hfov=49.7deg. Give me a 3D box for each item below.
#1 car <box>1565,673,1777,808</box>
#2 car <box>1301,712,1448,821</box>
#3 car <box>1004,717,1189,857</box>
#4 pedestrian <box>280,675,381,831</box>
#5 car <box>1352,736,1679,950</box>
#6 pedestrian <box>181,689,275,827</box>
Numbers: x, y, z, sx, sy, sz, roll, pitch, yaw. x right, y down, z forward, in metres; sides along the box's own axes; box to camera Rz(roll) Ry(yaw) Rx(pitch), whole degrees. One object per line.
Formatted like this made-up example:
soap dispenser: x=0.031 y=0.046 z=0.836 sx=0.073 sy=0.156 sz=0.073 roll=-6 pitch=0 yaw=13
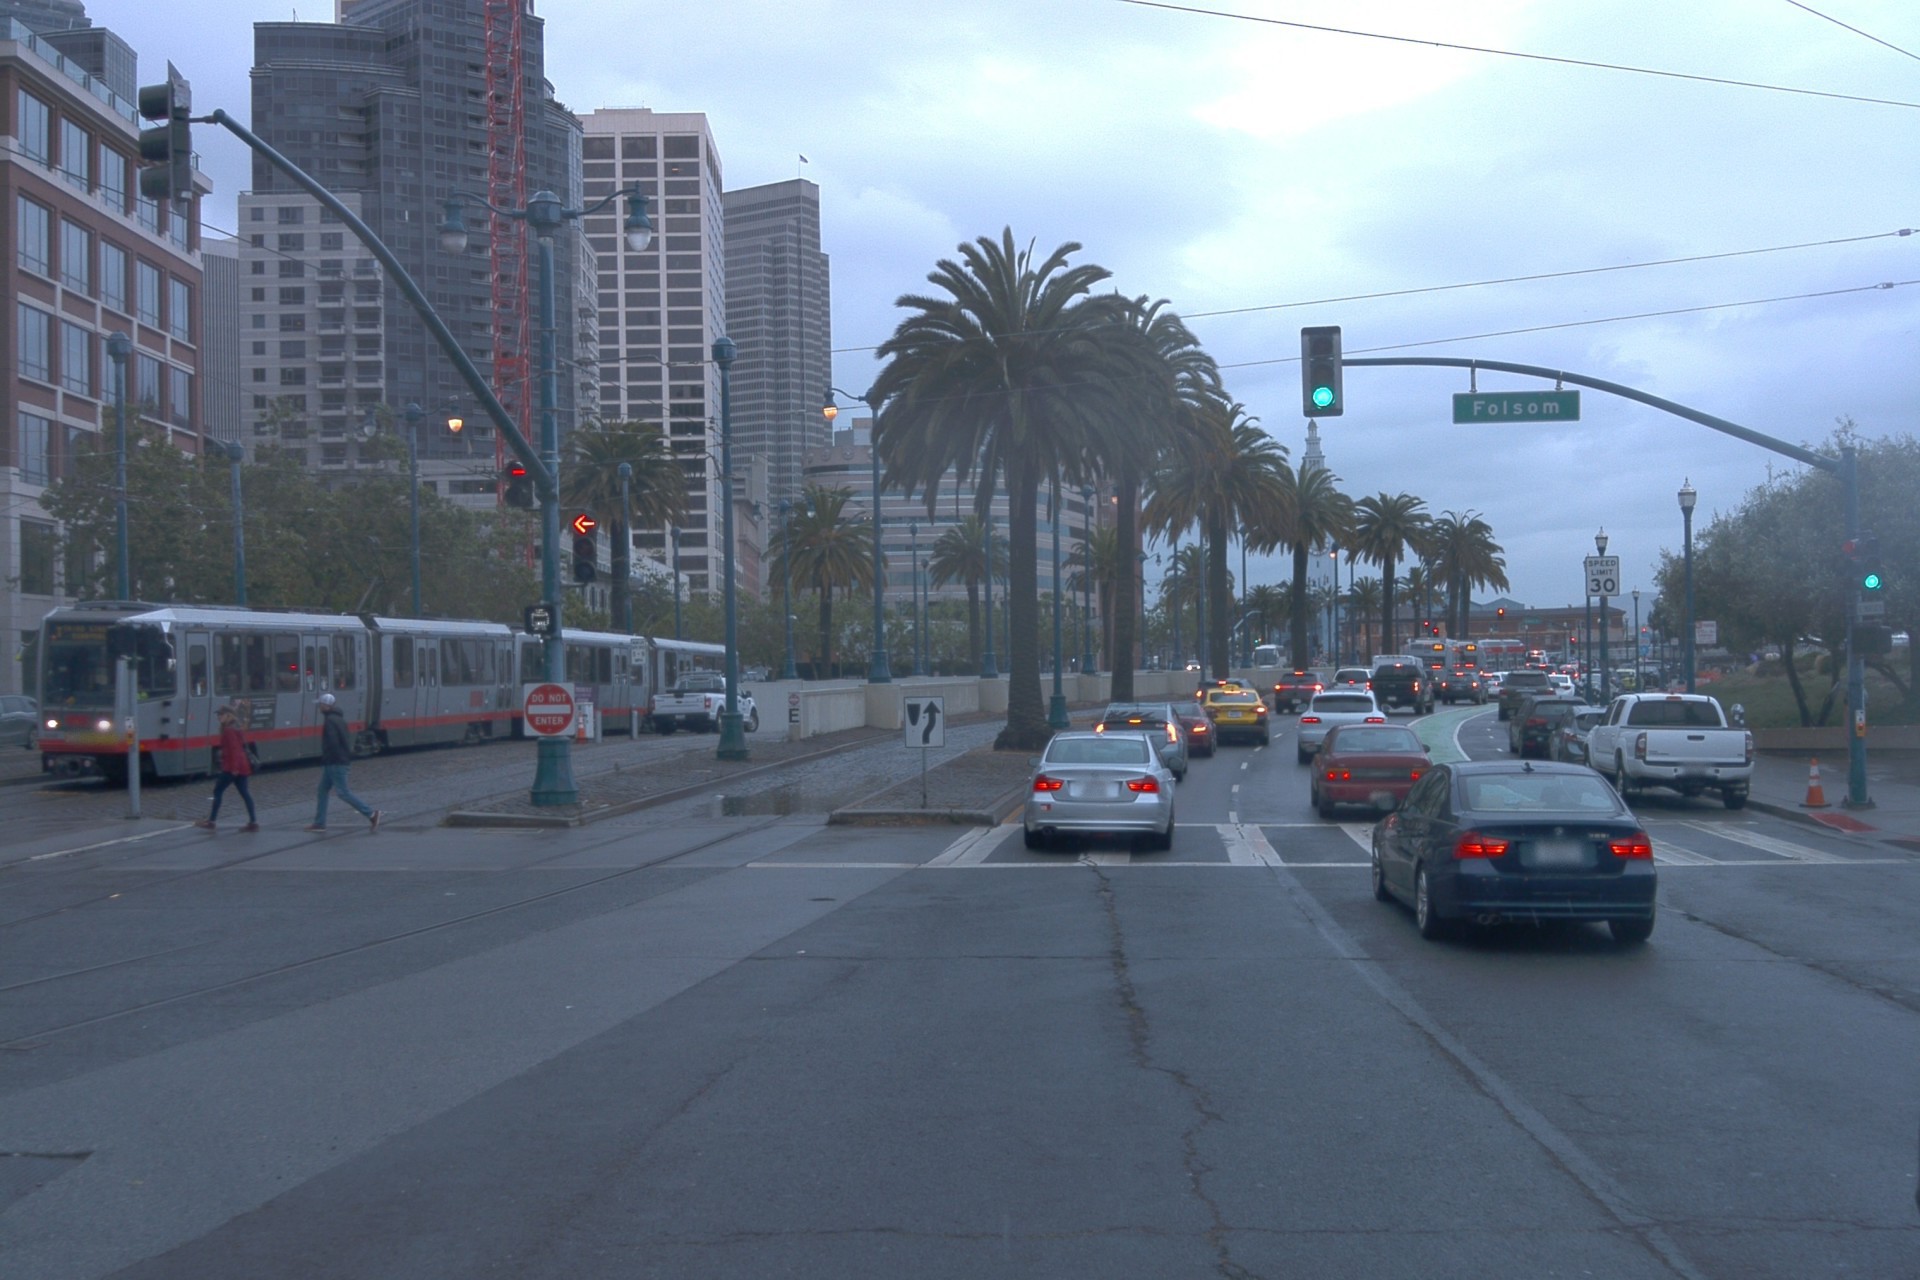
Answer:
car: x=11.424 y=1.550 z=33.748 sx=2.264 sy=2.000 sz=5.412 roll=0 pitch=-1 yaw=8
car: x=6.150 y=1.843 z=31.111 sx=1.923 sy=1.450 sz=3.945 roll=0 pitch=-1 yaw=8
car: x=1.832 y=1.781 z=26.348 sx=2.066 sy=1.510 sz=4.627 roll=0 pitch=-1 yaw=7
pedestrian: x=-8.246 y=1.463 z=27.199 sx=1.182 sy=2.000 sz=0.824 roll=0 pitch=-1 yaw=-11
car: x=4.555 y=1.616 z=17.651 sx=1.869 sy=1.450 sz=4.345 roll=0 pitch=-1 yaw=4
pedestrian: x=-9.644 y=1.538 z=27.333 sx=0.991 sy=1.770 sz=0.825 roll=0 pitch=-1 yaw=-5
